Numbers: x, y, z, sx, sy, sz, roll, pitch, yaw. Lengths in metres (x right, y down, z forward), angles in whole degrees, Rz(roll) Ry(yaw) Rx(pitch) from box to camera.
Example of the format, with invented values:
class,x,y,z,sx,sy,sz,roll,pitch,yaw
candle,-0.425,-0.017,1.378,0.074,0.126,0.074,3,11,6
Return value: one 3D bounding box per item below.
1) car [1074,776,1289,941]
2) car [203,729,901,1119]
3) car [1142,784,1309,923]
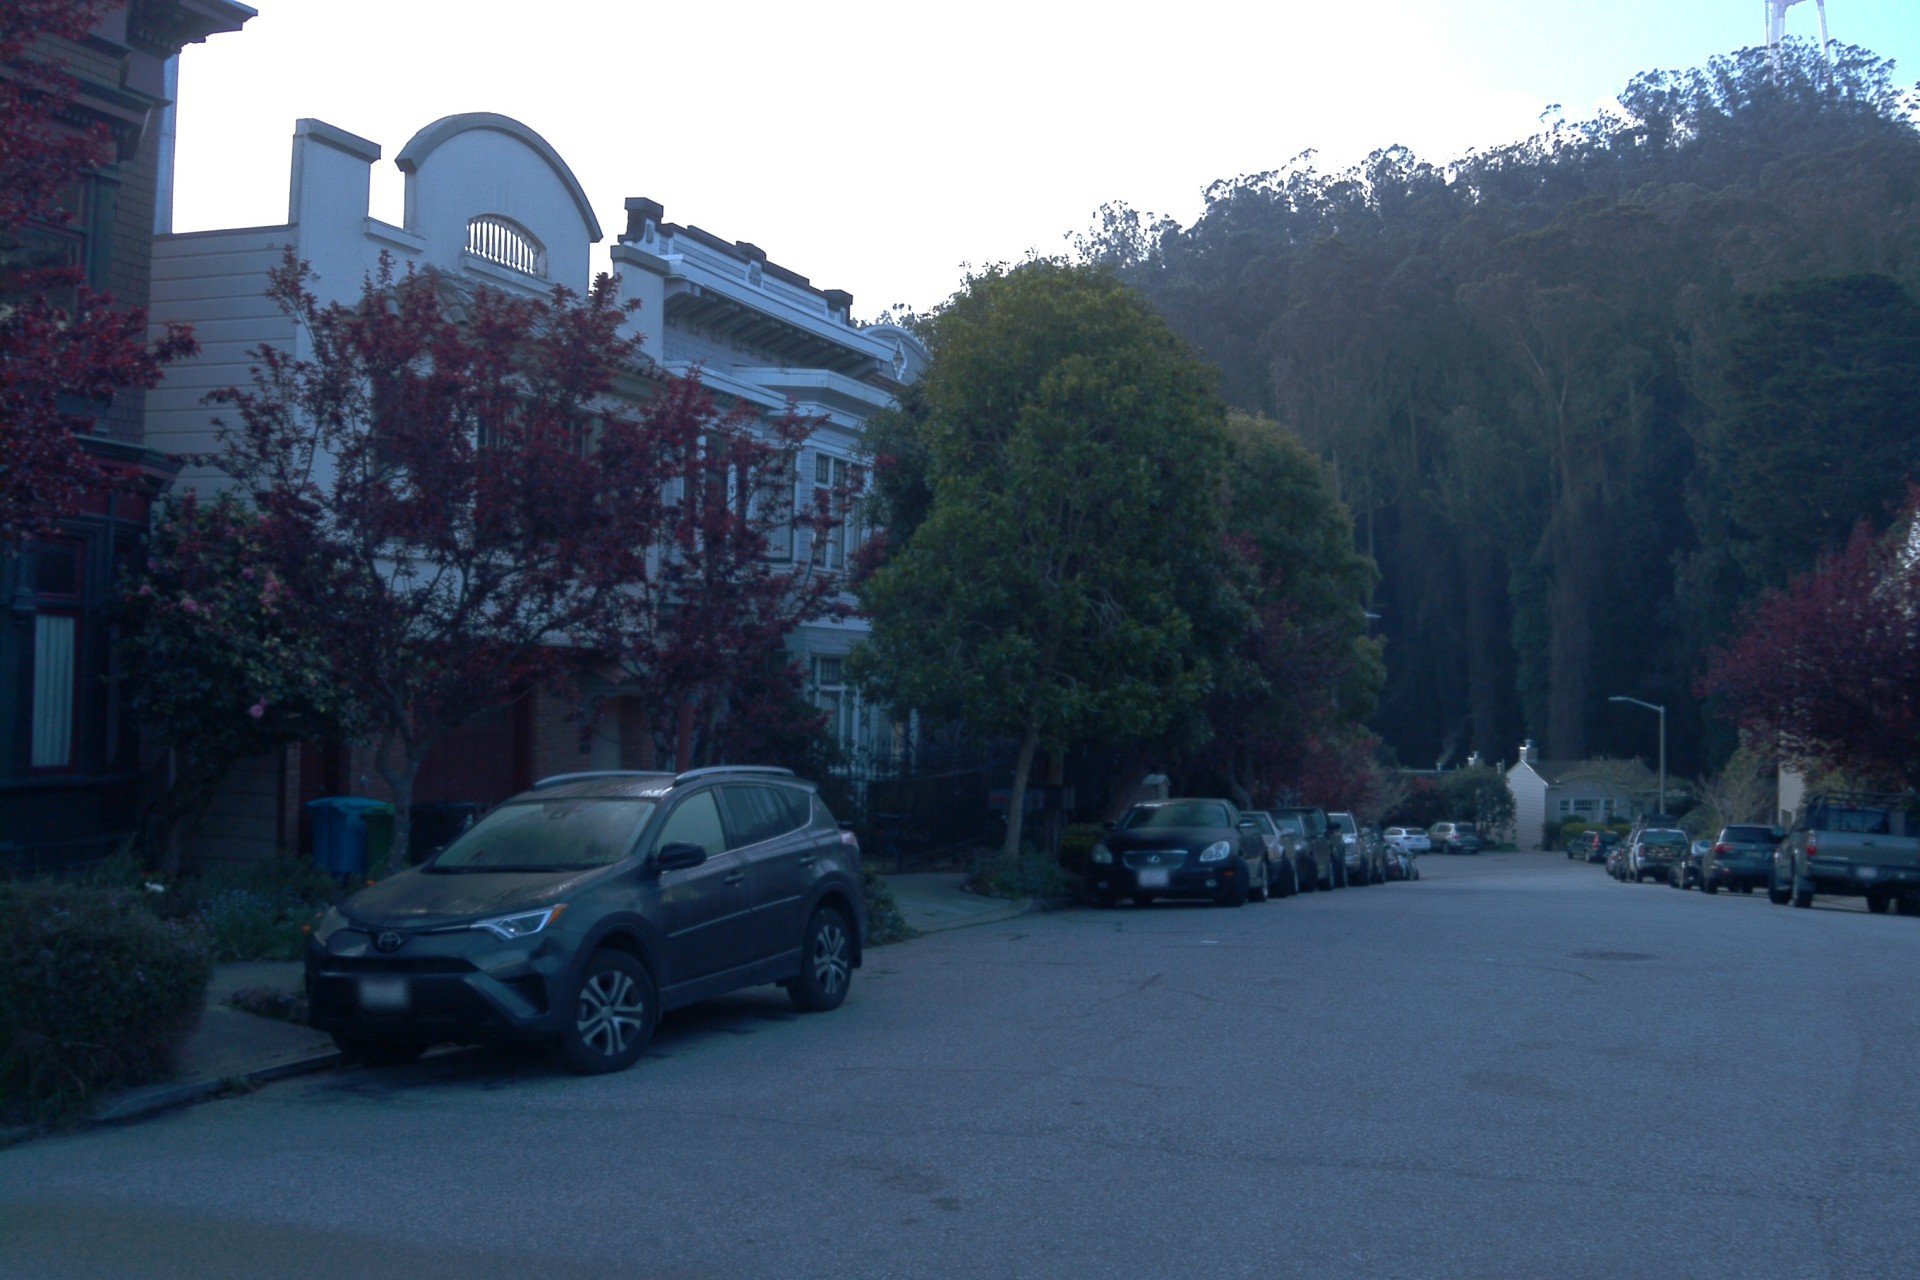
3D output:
class,x,y,z,sx,sy,sz,roll,pitch,yaw
car,2.876,2.641,25.687,1.999,1.492,4.438,1,1,15
car,-2.290,1.556,12.926,2.086,1.708,4.539,1,1,24
car,4.048,3.109,30.659,2.018,1.524,4.384,0,1,14
